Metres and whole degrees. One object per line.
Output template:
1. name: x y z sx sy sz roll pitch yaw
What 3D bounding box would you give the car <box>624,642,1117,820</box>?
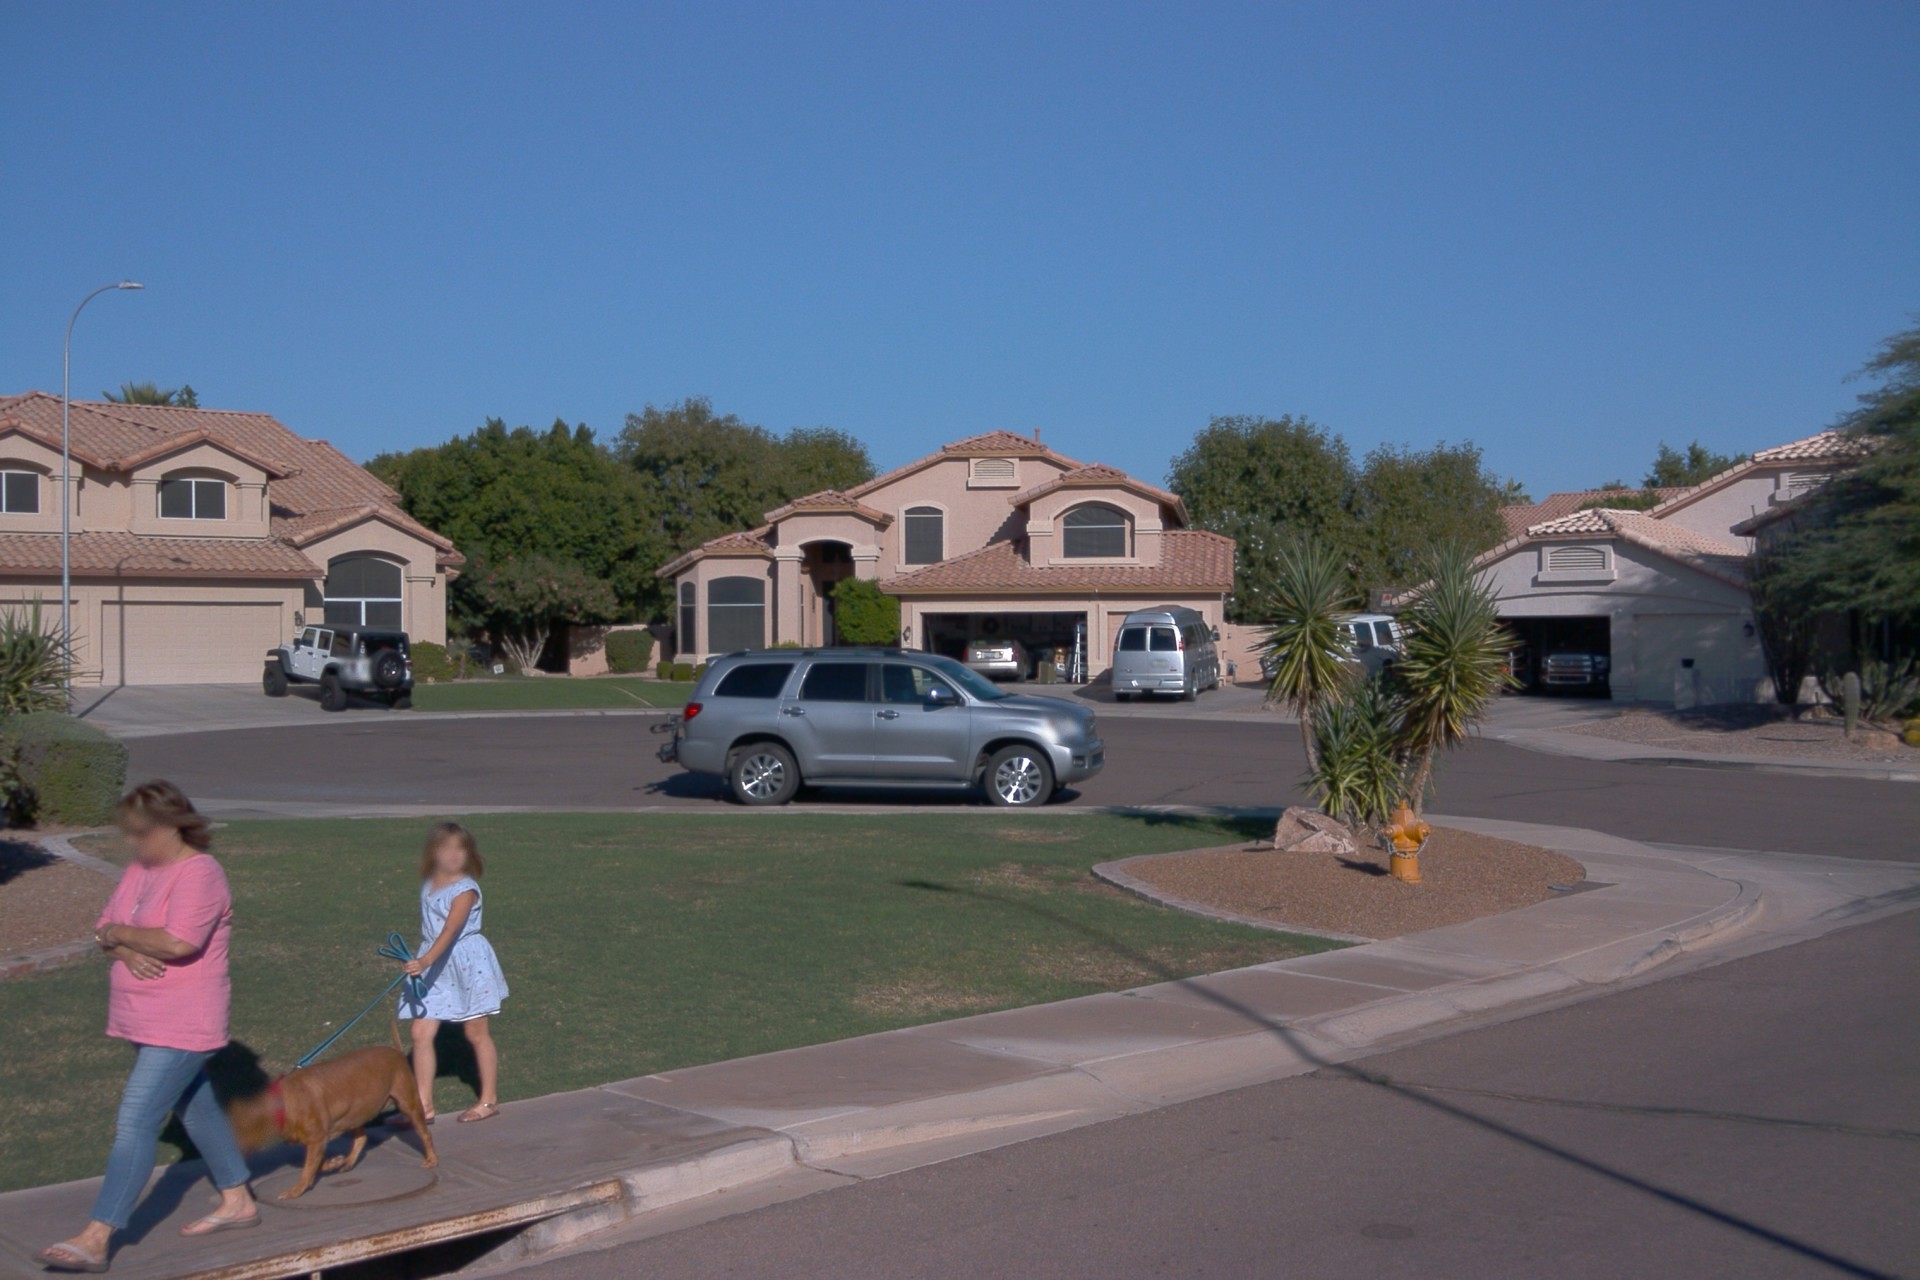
1. car: -1.031 1.063 26.077 5.687 2.060 2.562 0 0 11

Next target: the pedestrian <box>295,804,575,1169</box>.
1. pedestrian: -2.201 1.406 8.741 0.783 1.340 0.842 0 0 41
